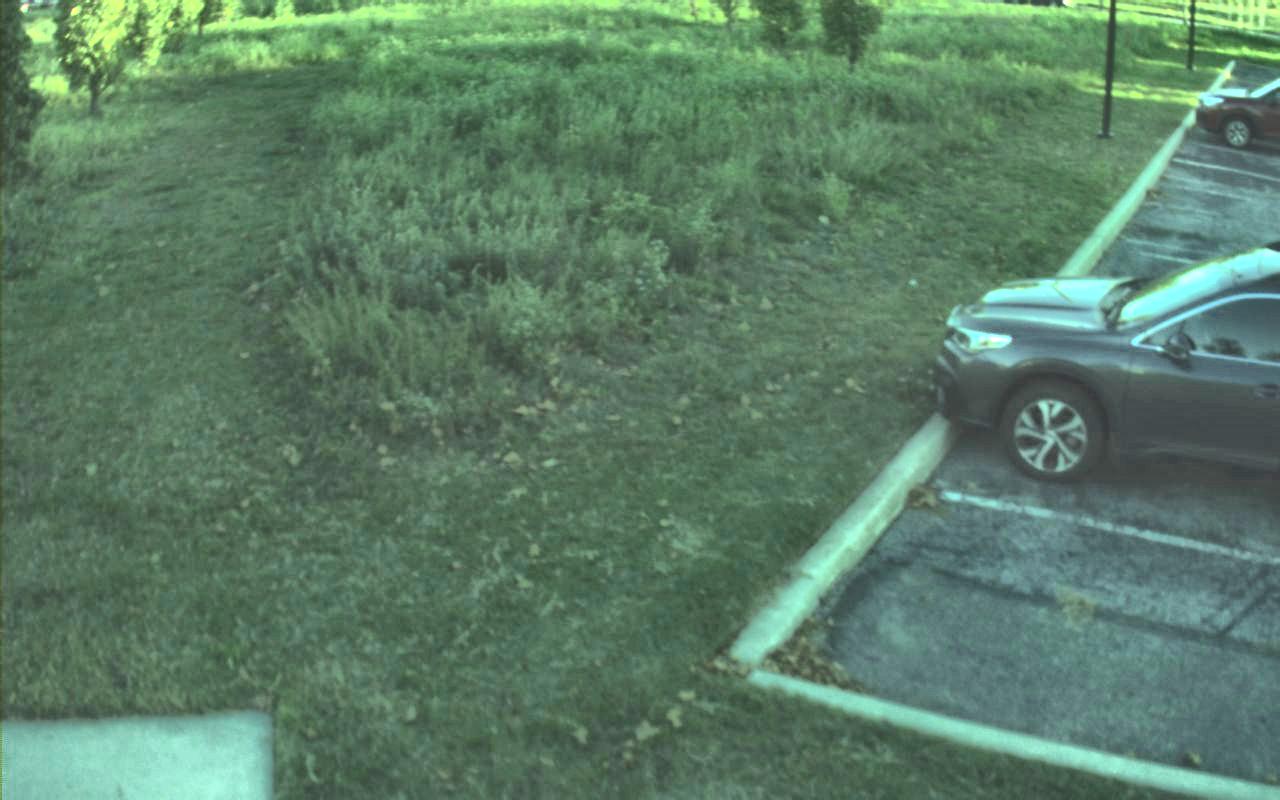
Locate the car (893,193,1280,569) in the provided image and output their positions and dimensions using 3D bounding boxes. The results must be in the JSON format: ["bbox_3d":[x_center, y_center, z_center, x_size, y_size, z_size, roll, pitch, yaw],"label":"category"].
[{"bbox_3d":[4.134,-0.260,7.693,4.587,1.623,1.998,9,18,30],"label":"car"}]

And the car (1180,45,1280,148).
[{"bbox_3d":[13.215,-6.169,22.453,4.593,1.630,1.990,7,17,26],"label":"car"}]
